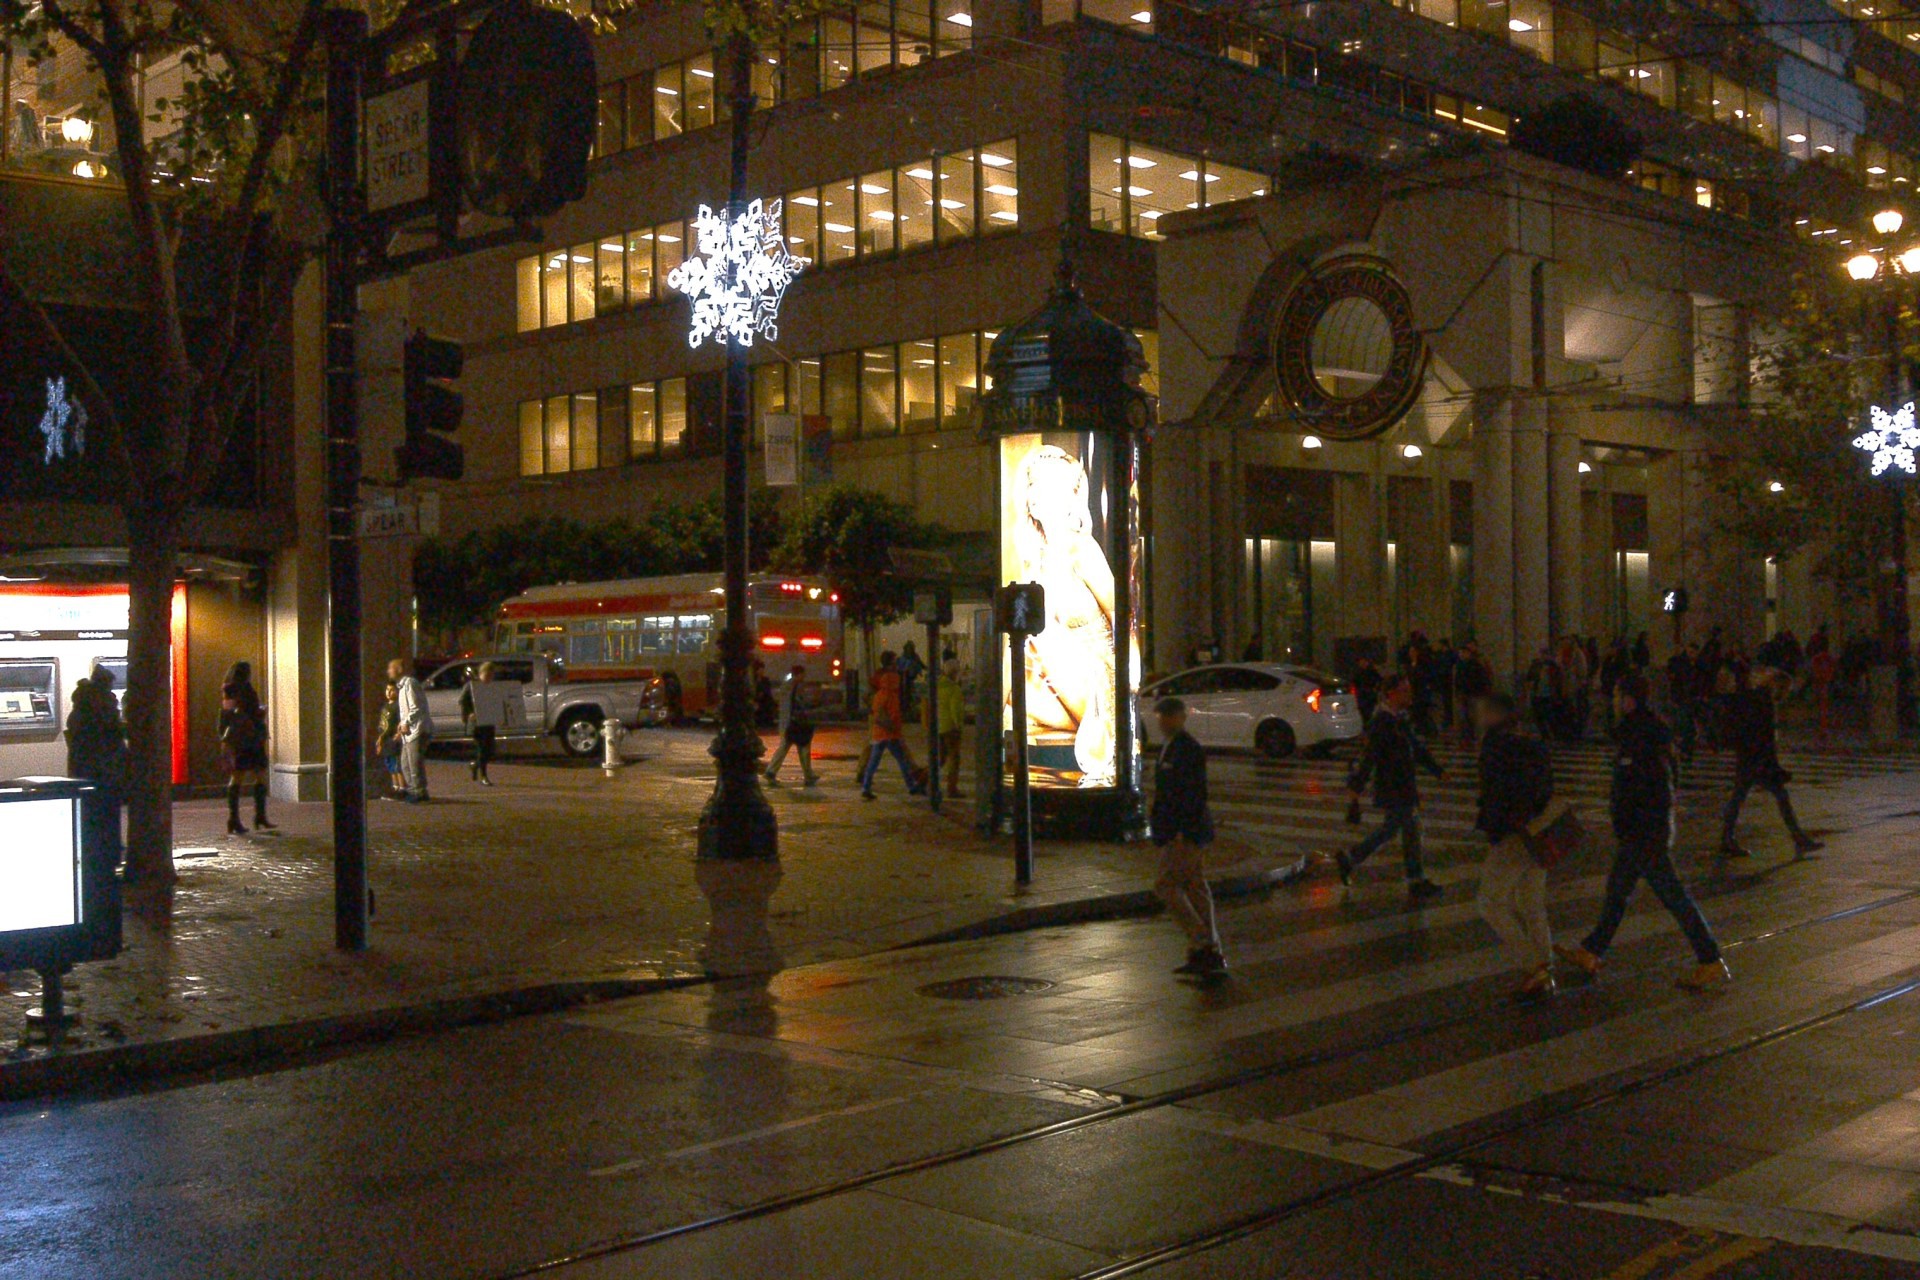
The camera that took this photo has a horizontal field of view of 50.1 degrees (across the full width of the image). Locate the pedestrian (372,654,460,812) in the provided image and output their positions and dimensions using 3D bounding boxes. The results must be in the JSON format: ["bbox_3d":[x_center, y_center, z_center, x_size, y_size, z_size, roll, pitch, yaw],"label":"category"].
[{"bbox_3d":[-5.994,1.002,22.622,0.700,1.670,0.879,-1,1,-32],"label":"pedestrian"}]

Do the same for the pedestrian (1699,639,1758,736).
[{"bbox_3d":[13.203,0.798,35.332,0.888,1.620,1.081,0,1,17],"label":"pedestrian"}]

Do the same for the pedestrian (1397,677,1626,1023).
[{"bbox_3d":[3.071,1.123,11.446,1.040,1.790,0.698,1,1,36],"label":"pedestrian"}]

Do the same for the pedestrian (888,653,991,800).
[{"bbox_3d":[-0.259,1.066,25.909,1.045,1.780,0.780,-1,1,-42],"label":"pedestrian"}]

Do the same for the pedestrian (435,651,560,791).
[{"bbox_3d":[-5.781,0.984,25.700,1.047,1.670,1.135,1,1,45],"label":"pedestrian"}]

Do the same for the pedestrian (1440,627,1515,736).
[{"bbox_3d":[9.271,0.718,36.784,0.964,1.900,1.058,1,1,36],"label":"pedestrian"}]

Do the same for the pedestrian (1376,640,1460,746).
[{"bbox_3d":[8.020,0.908,35.980,0.913,1.780,1.262,1,1,43],"label":"pedestrian"}]

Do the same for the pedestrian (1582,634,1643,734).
[{"bbox_3d":[11.723,0.777,36.905,0.799,1.770,0.725,-1,1,-42],"label":"pedestrian"}]

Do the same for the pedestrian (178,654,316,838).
[{"bbox_3d":[-6.931,1.002,19.986,0.806,1.710,0.985,1,1,41],"label":"pedestrian"}]

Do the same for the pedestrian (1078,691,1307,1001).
[{"bbox_3d":[1.450,1.215,12.682,1.058,1.740,1.171,0,1,27],"label":"pedestrian"}]

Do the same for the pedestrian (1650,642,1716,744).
[{"bbox_3d":[12.120,0.872,34.426,0.699,1.650,1.101,1,1,40],"label":"pedestrian"}]

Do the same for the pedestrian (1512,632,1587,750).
[{"bbox_3d":[9.919,0.844,34.552,0.742,1.920,1.418,1,1,37],"label":"pedestrian"}]

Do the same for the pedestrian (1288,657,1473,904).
[{"bbox_3d":[3.505,1.129,17.151,0.928,1.940,1.198,-1,1,-44],"label":"pedestrian"}]

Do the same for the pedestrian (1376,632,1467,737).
[{"bbox_3d":[8.089,0.755,36.000,1.035,1.770,1.284,1,1,43],"label":"pedestrian"}]

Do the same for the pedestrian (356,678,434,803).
[{"bbox_3d":[-6.387,1.125,23.208,0.636,1.350,0.644,-1,1,-40],"label":"pedestrian"}]

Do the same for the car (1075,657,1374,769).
[{"bbox_3d":[4.238,1.127,33.249,4.445,1.580,1.870,1,1,38],"label":"car"}]

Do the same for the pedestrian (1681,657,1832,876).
[{"bbox_3d":[7.166,1.113,18.538,1.218,1.890,0.782,0,1,18],"label":"pedestrian"}]

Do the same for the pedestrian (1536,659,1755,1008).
[{"bbox_3d":[3.973,1.069,11.901,1.007,1.890,0.793,1,1,35],"label":"pedestrian"}]

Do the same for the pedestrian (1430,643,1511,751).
[{"bbox_3d":[8.496,0.926,34.196,0.838,1.730,1.147,1,1,44],"label":"pedestrian"}]

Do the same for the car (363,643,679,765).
[{"bbox_3d":[-7.356,1.057,34.757,4.910,1.960,1.934,0,1,0],"label":"car"}]

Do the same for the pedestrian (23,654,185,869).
[{"bbox_3d":[-7.283,0.998,17.474,1.119,1.720,0.909,-1,1,-33],"label":"pedestrian"}]

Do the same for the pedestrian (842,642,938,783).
[{"bbox_3d":[-0.953,0.962,27.995,1.041,1.860,0.795,-1,1,-39],"label":"pedestrian"}]

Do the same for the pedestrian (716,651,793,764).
[{"bbox_3d":[-3.318,1.077,33.214,0.920,1.760,0.888,-1,1,-35],"label":"pedestrian"}]

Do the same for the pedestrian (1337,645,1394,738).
[{"bbox_3d":[7.485,0.942,37.926,0.741,1.680,0.757,1,1,42],"label":"pedestrian"}]

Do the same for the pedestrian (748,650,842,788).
[{"bbox_3d":[-2.291,1.074,28.530,0.753,1.850,1.064,1,1,45],"label":"pedestrian"}]

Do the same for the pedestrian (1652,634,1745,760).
[{"bbox_3d":[11.210,0.844,31.165,1.161,1.850,0.837,-1,1,-39],"label":"pedestrian"}]

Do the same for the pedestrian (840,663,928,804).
[{"bbox_3d":[-0.963,1.168,26.126,0.934,1.730,0.628,-1,1,-43],"label":"pedestrian"}]
